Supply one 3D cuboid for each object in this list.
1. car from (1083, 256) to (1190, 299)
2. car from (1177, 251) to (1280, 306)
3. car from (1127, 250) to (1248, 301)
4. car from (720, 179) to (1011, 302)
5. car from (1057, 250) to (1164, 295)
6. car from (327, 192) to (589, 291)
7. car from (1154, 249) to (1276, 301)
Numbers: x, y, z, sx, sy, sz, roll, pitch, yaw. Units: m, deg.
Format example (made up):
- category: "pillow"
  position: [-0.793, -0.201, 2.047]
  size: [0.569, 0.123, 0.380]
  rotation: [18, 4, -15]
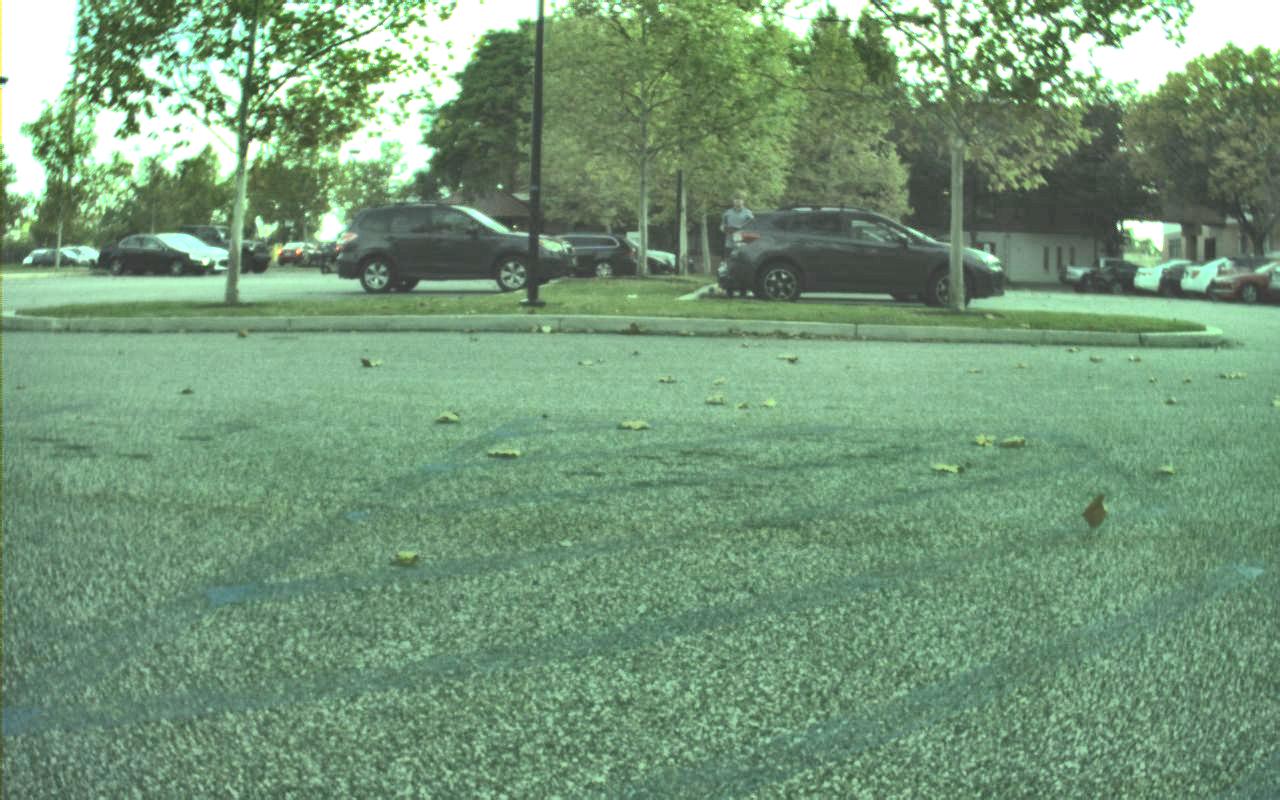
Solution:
- category: "car"
  position: [21.869, -5.289, 52.064]
  size: [4.581, 1.601, 1.964]
  rotation: [0, 1, -1]
- category: "car"
  position: [20.706, -4.047, 39.302]
  size: [4.451, 1.687, 1.958]
  rotation: [1, 1, 10]
- category: "car"
  position: [20.918, -4.635, 44.425]
  size: [4.569, 1.719, 2.001]
  rotation: [1, 1, 9]
- category: "car"
  position: [3.537, -2.497, 19.865]
  size: [4.507, 1.737, 1.958]
  rotation: [1, 1, 4]
- category: "car"
  position: [22.551, -5.986, 57.051]
  size: [4.998, 1.917, 2.103]
  rotation: [1, 1, 6]
- category: "car"
  position: [-3.418, -2.946, 23.648]
  size: [4.641, 1.648, 1.980]
  rotation: [1, 1, 6]
- category: "car"
  position: [20.860, -4.411, 41.797]
  size: [4.407, 1.655, 1.956]
  rotation: [1, 1, 8]
